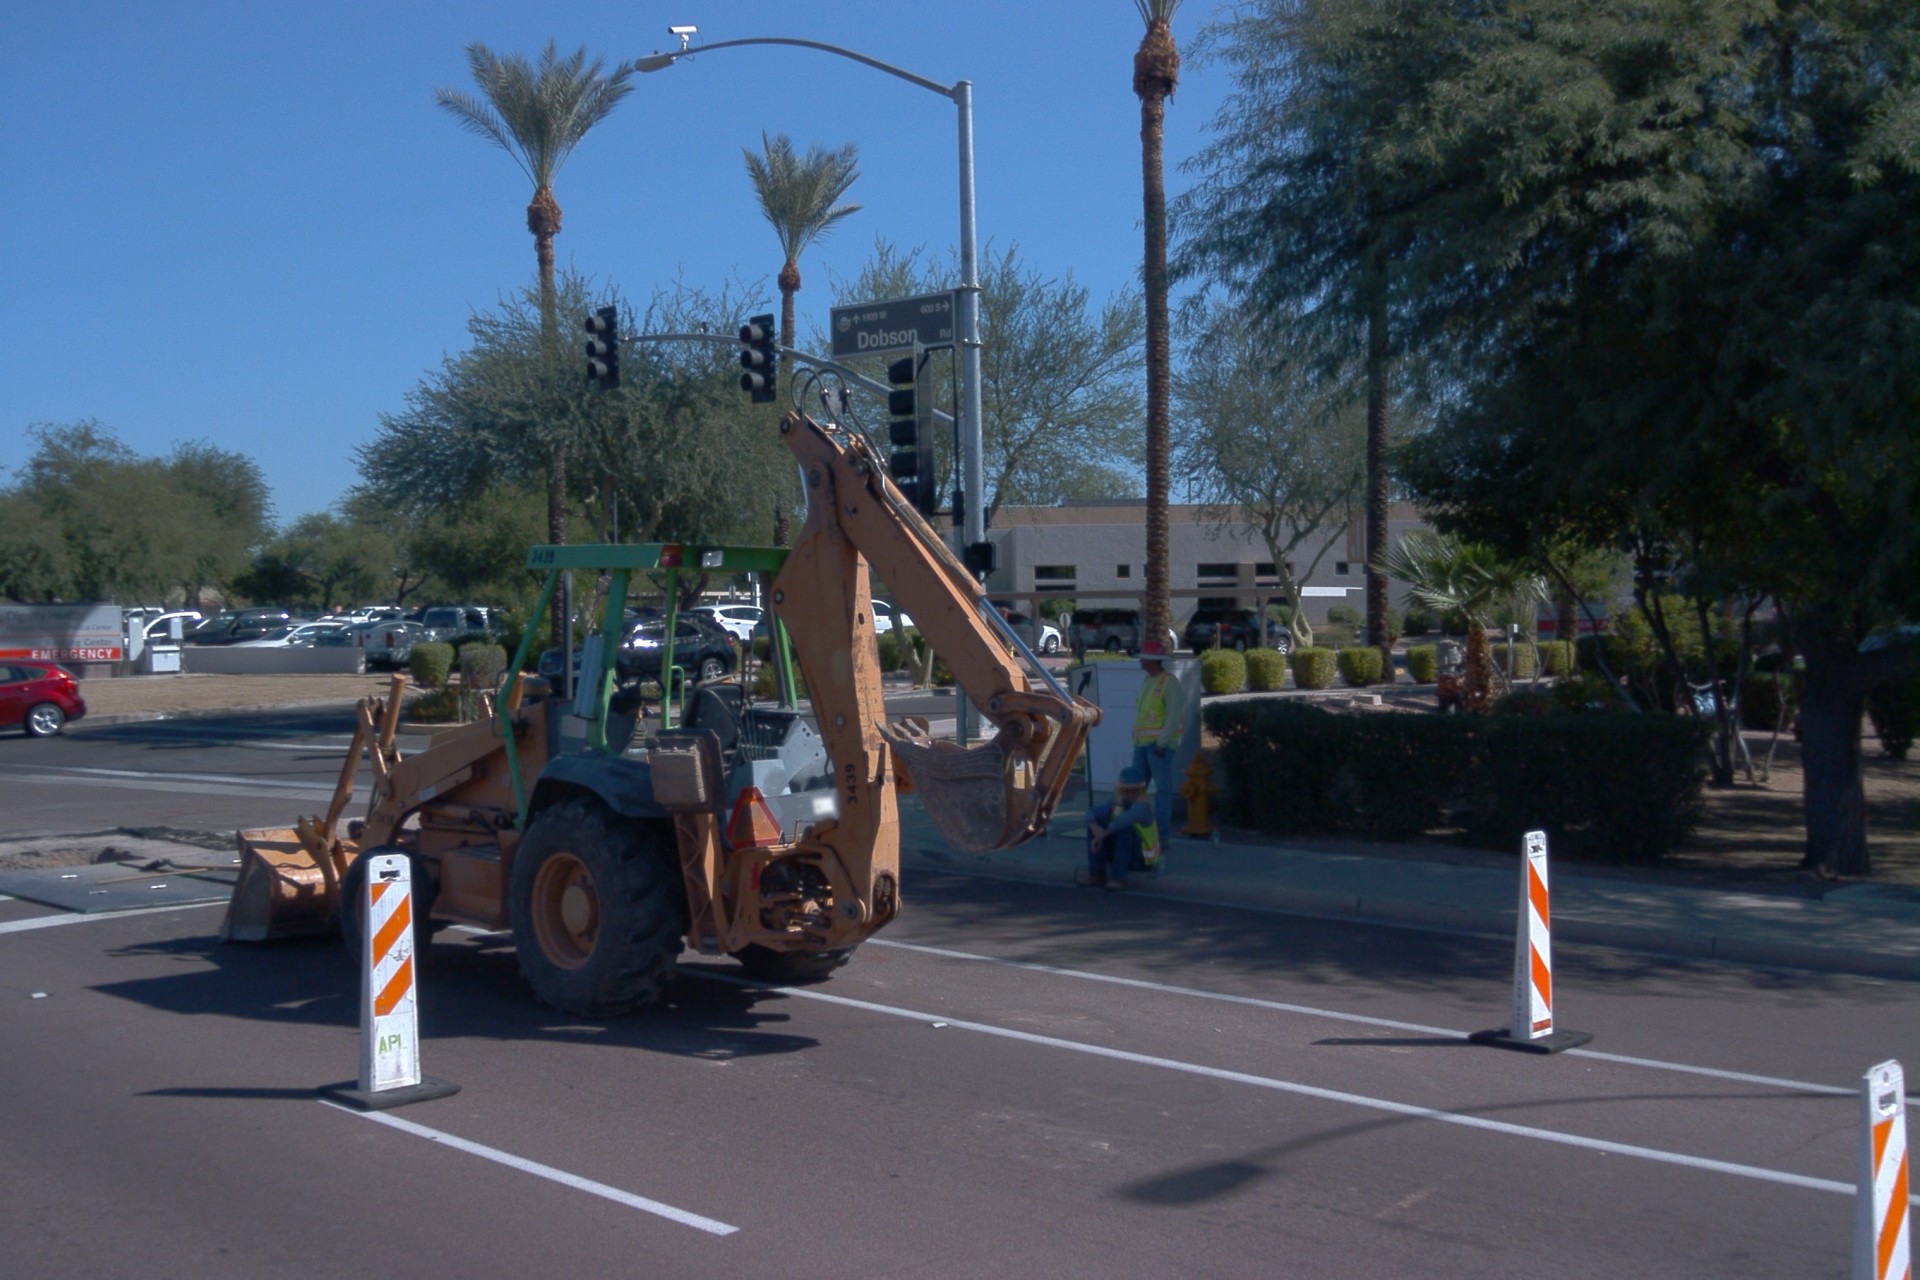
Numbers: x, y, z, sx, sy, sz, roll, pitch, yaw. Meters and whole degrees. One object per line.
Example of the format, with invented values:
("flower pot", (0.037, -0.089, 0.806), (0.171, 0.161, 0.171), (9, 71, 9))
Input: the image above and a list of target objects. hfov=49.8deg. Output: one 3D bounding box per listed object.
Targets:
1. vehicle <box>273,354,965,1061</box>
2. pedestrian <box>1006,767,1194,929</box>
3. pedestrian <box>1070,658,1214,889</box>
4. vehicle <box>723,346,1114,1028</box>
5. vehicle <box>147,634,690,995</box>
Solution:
("vehicle", (-2.235, 0.371, 13.000), (4.008, 3.680, 2.336), (0, 0, 44))
("pedestrian", (1.202, 1.754, 17.742), (1.263, 1.240, 1.015), (1, 0, -44))
("pedestrian", (1.685, 1.197, 19.100), (0.852, 2.050, 1.034), (1, 0, 44))
("vehicle", (-0.273, 0.238, 11.208), (2.261, 3.370, 0.641), (0, 0, 42))
("vehicle", (-3.781, 1.072, 14.389), (2.873, 2.180, 2.534), (0, 0, 45))
